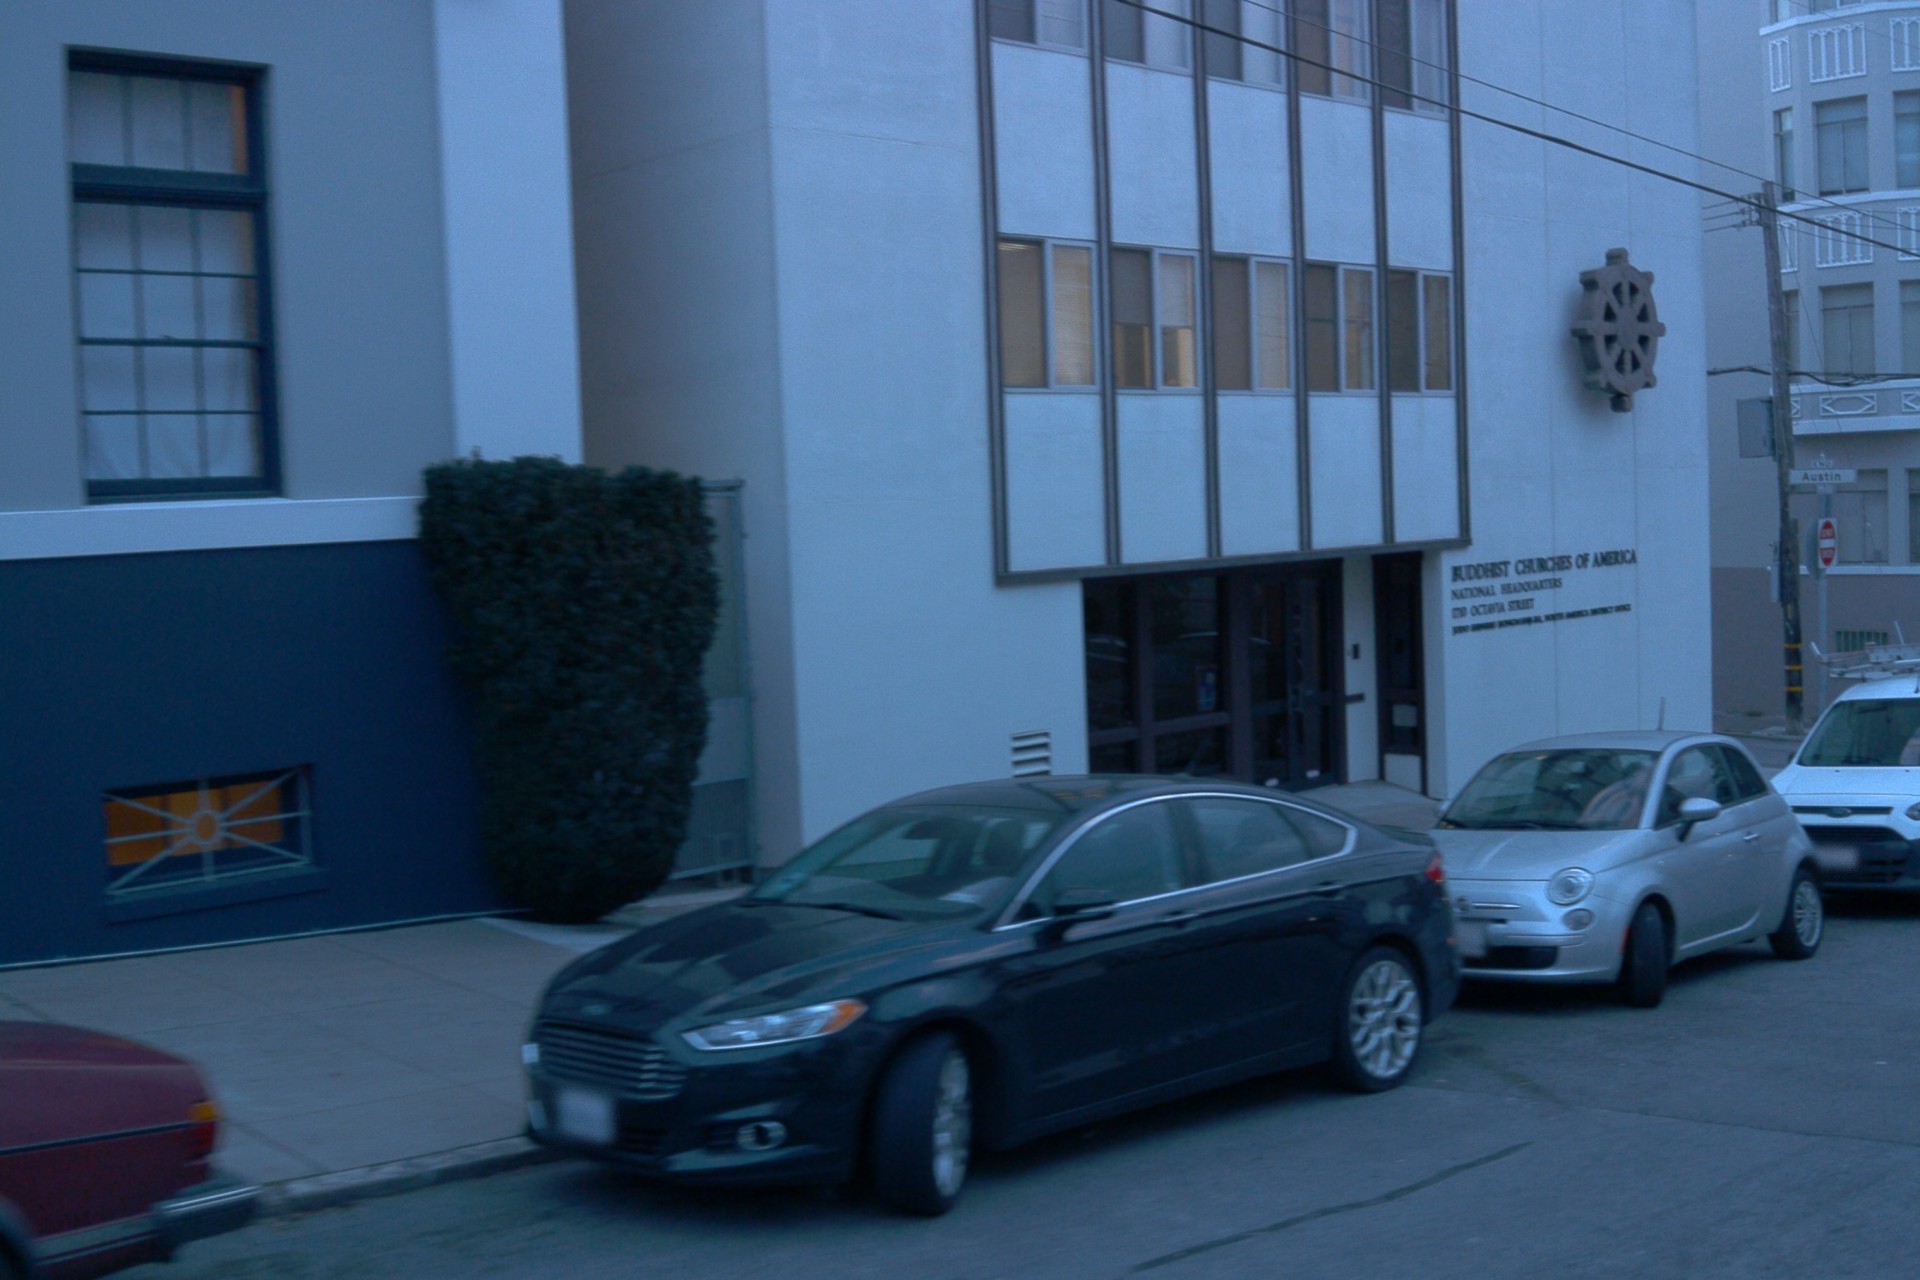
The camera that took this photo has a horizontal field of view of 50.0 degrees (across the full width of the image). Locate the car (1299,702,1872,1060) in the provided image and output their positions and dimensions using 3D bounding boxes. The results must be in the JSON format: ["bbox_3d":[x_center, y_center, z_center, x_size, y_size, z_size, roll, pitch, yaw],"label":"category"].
[{"bbox_3d":[3.867,1.291,12.437,1.875,1.680,3.541,1,1,44],"label":"car"}]

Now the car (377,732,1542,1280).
[{"bbox_3d":[0.246,1.337,8.870,4.833,1.610,2.213,0,1,-44],"label":"car"}]
